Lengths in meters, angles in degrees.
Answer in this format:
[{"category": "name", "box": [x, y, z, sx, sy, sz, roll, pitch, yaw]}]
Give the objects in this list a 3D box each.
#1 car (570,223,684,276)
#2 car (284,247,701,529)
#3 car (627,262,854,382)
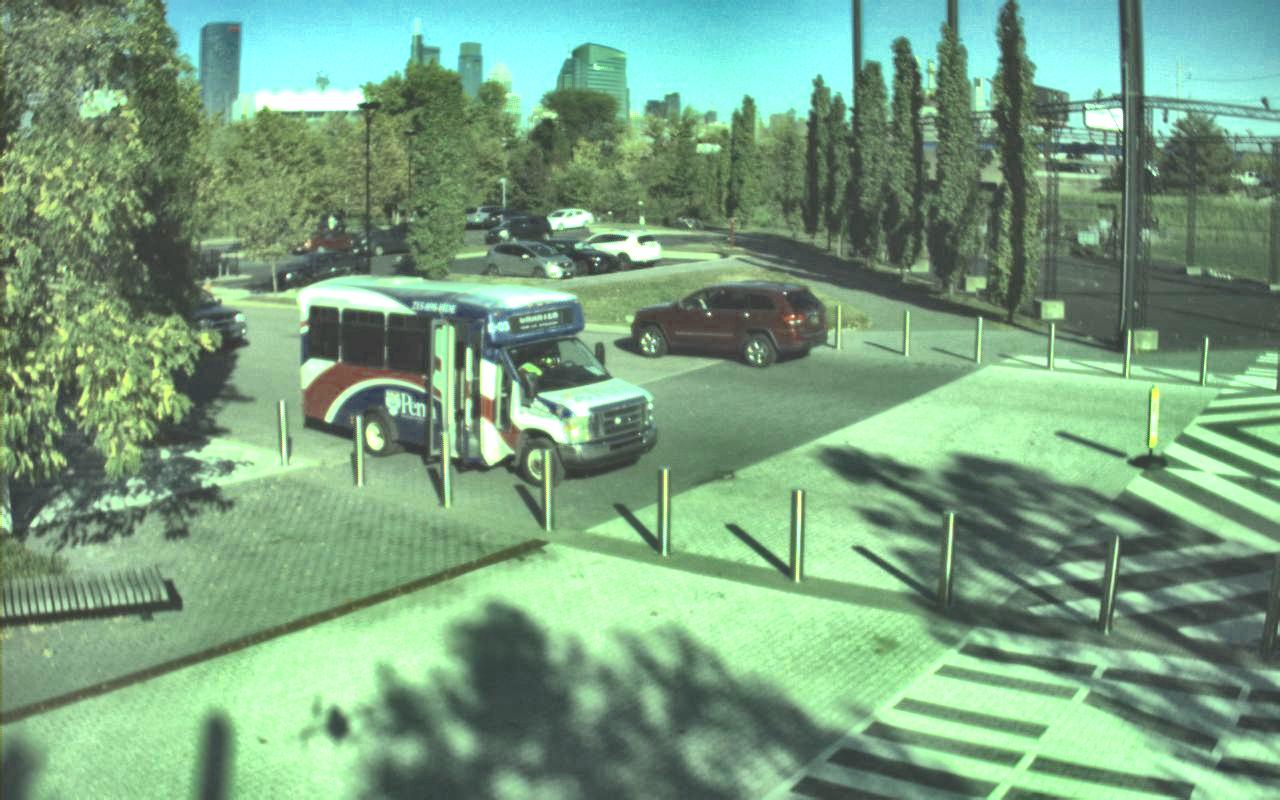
[{"category": "car", "box": [-0.581, -6.493, 54.187, 4.532, 1.657, 1.984, 9, 19, 31]}, {"category": "car", "box": [-2.562, -0.491, 20.079, 6.805, 2.939, 2.618, 12, 20, 37]}, {"category": "car", "box": [2.278, -1.883, 29.064, 4.849, 1.788, 2.062, 11, 20, 34]}]
